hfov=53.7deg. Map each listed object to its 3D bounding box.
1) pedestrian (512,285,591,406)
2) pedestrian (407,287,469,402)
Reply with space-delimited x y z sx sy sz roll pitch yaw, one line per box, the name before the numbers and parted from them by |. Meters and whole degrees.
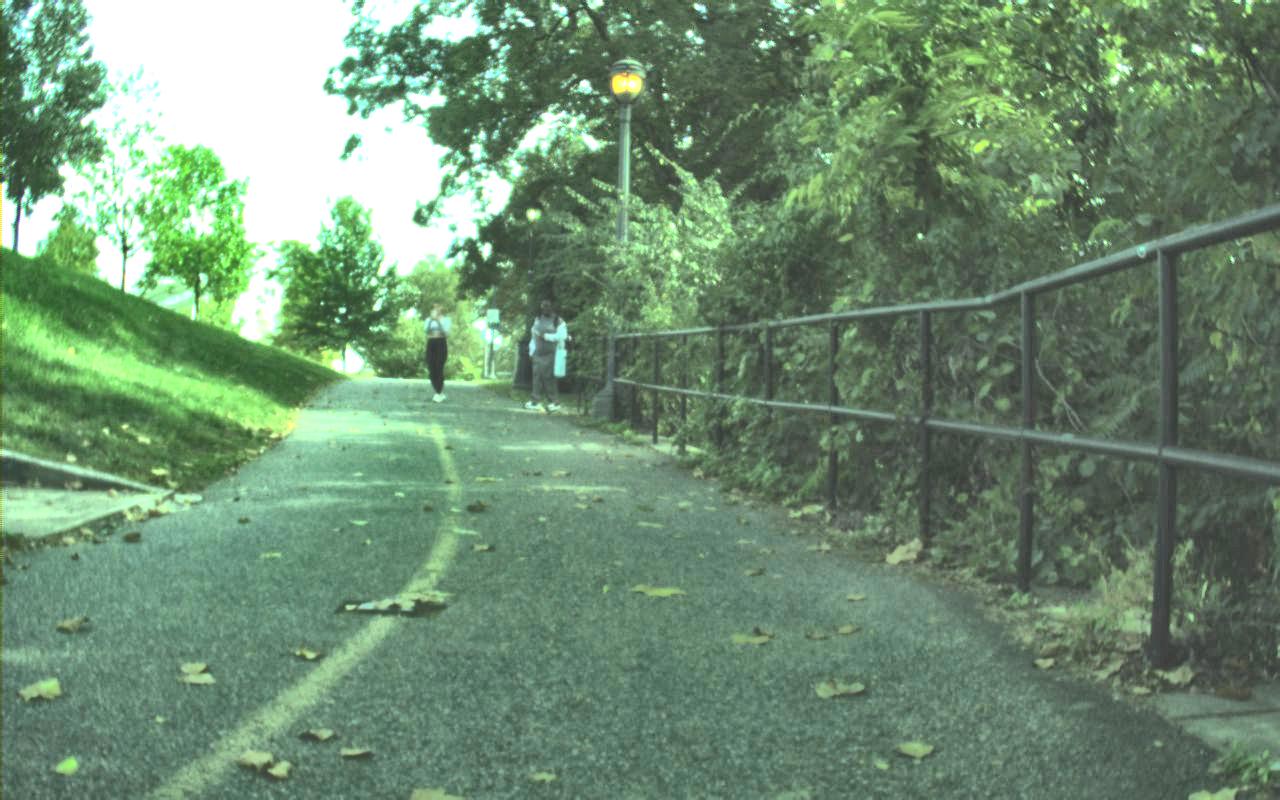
pedestrian | -1.331 -0.800 18.787 0.868 1.739 0.854 0 0 -32
pedestrian | -3.127 -0.852 19.369 0.813 1.739 0.834 0 0 2
